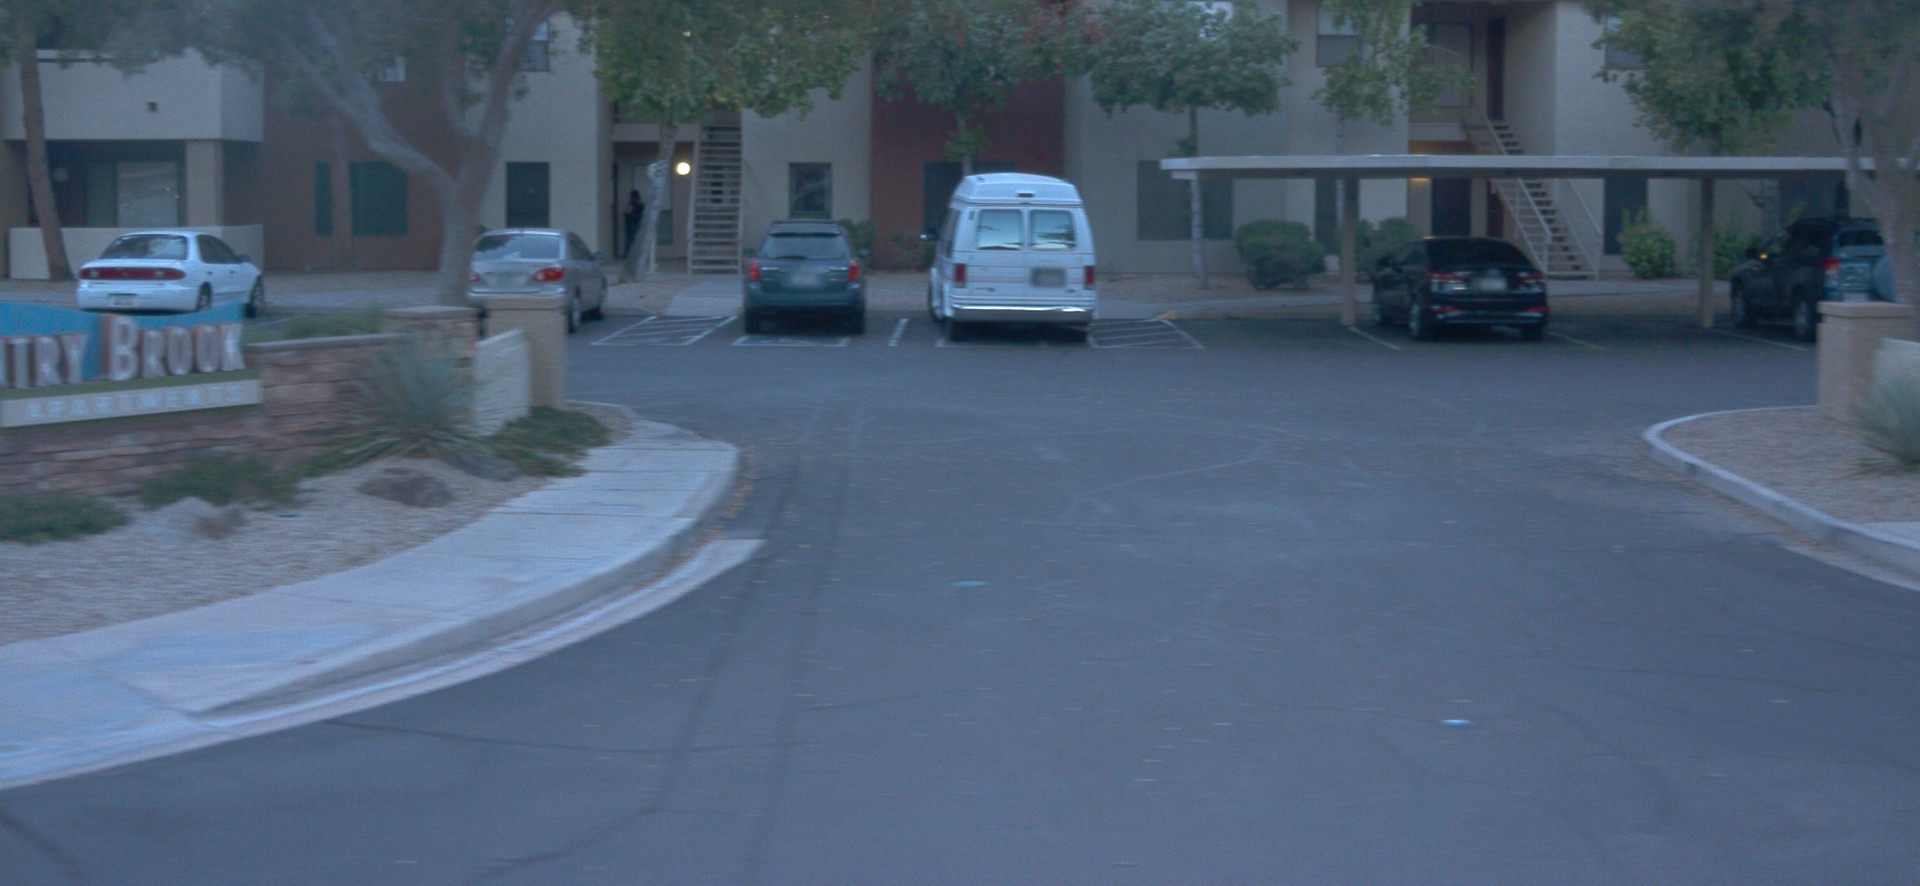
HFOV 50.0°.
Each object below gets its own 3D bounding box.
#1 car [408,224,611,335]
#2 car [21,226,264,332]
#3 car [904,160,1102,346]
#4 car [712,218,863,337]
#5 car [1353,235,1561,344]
[{"bbox_3d":[-6.510,-2.457,30.269,2.039,1.493,4.686,0,5,-1],"label":"car"},{"bbox_3d":[-11.872,-2.458,30.256,1.976,1.434,4.448,0,5,-3],"label":"car"},{"bbox_3d":[0.496,-2.778,29.807,2.459,2.430,5.398,0,5,-3],"label":"car"},{"bbox_3d":[-2.468,-2.488,30.380,2.053,1.613,4.621,0,5,-3],"label":"car"},{"bbox_3d":[7.103,-2.286,29.892,1.931,1.444,4.308,0,5,-1],"label":"car"}]
